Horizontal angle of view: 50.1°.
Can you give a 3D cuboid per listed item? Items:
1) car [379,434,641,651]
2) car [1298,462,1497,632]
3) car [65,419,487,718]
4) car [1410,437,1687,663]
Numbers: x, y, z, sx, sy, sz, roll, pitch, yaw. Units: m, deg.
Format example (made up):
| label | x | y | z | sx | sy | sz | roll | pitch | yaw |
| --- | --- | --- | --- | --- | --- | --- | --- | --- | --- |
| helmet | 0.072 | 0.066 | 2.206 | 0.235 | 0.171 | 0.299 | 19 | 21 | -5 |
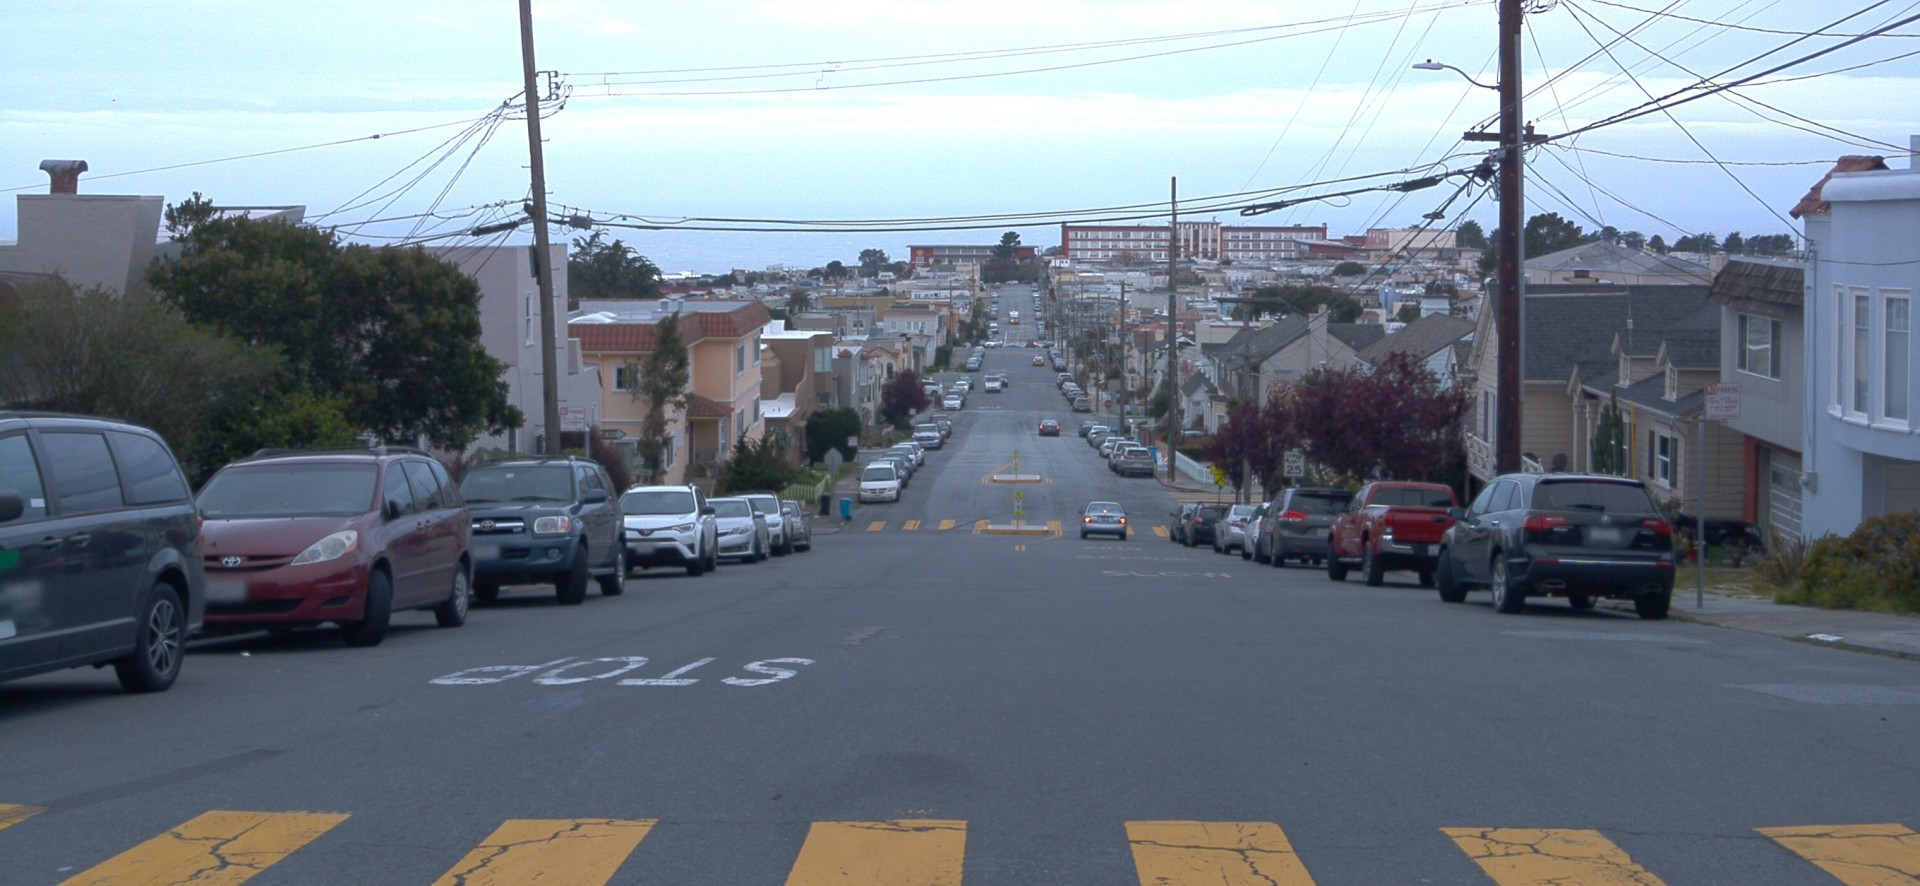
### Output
| label | x | y | z | sx | sy | sz | roll | pitch | yaw |
| --- | --- | --- | --- | --- | --- | --- | --- | --- | --- |
| car | -5.725 | 1.166 | 26.844 | 2.271 | 2.062 | 5.071 | 0 | 5 | 0 |
| car | 7.297 | 1.659 | 34.829 | 2.331 | 2.072 | 5.092 | 0 | 5 | 1 |
| car | -6.076 | 0.979 | 19.024 | 2.315 | 1.932 | 5.063 | 0 | 5 | -1 |
| car | 7.196 | 1.208 | 25.662 | 2.320 | 2.102 | 4.521 | 0 | 5 | 2 |
